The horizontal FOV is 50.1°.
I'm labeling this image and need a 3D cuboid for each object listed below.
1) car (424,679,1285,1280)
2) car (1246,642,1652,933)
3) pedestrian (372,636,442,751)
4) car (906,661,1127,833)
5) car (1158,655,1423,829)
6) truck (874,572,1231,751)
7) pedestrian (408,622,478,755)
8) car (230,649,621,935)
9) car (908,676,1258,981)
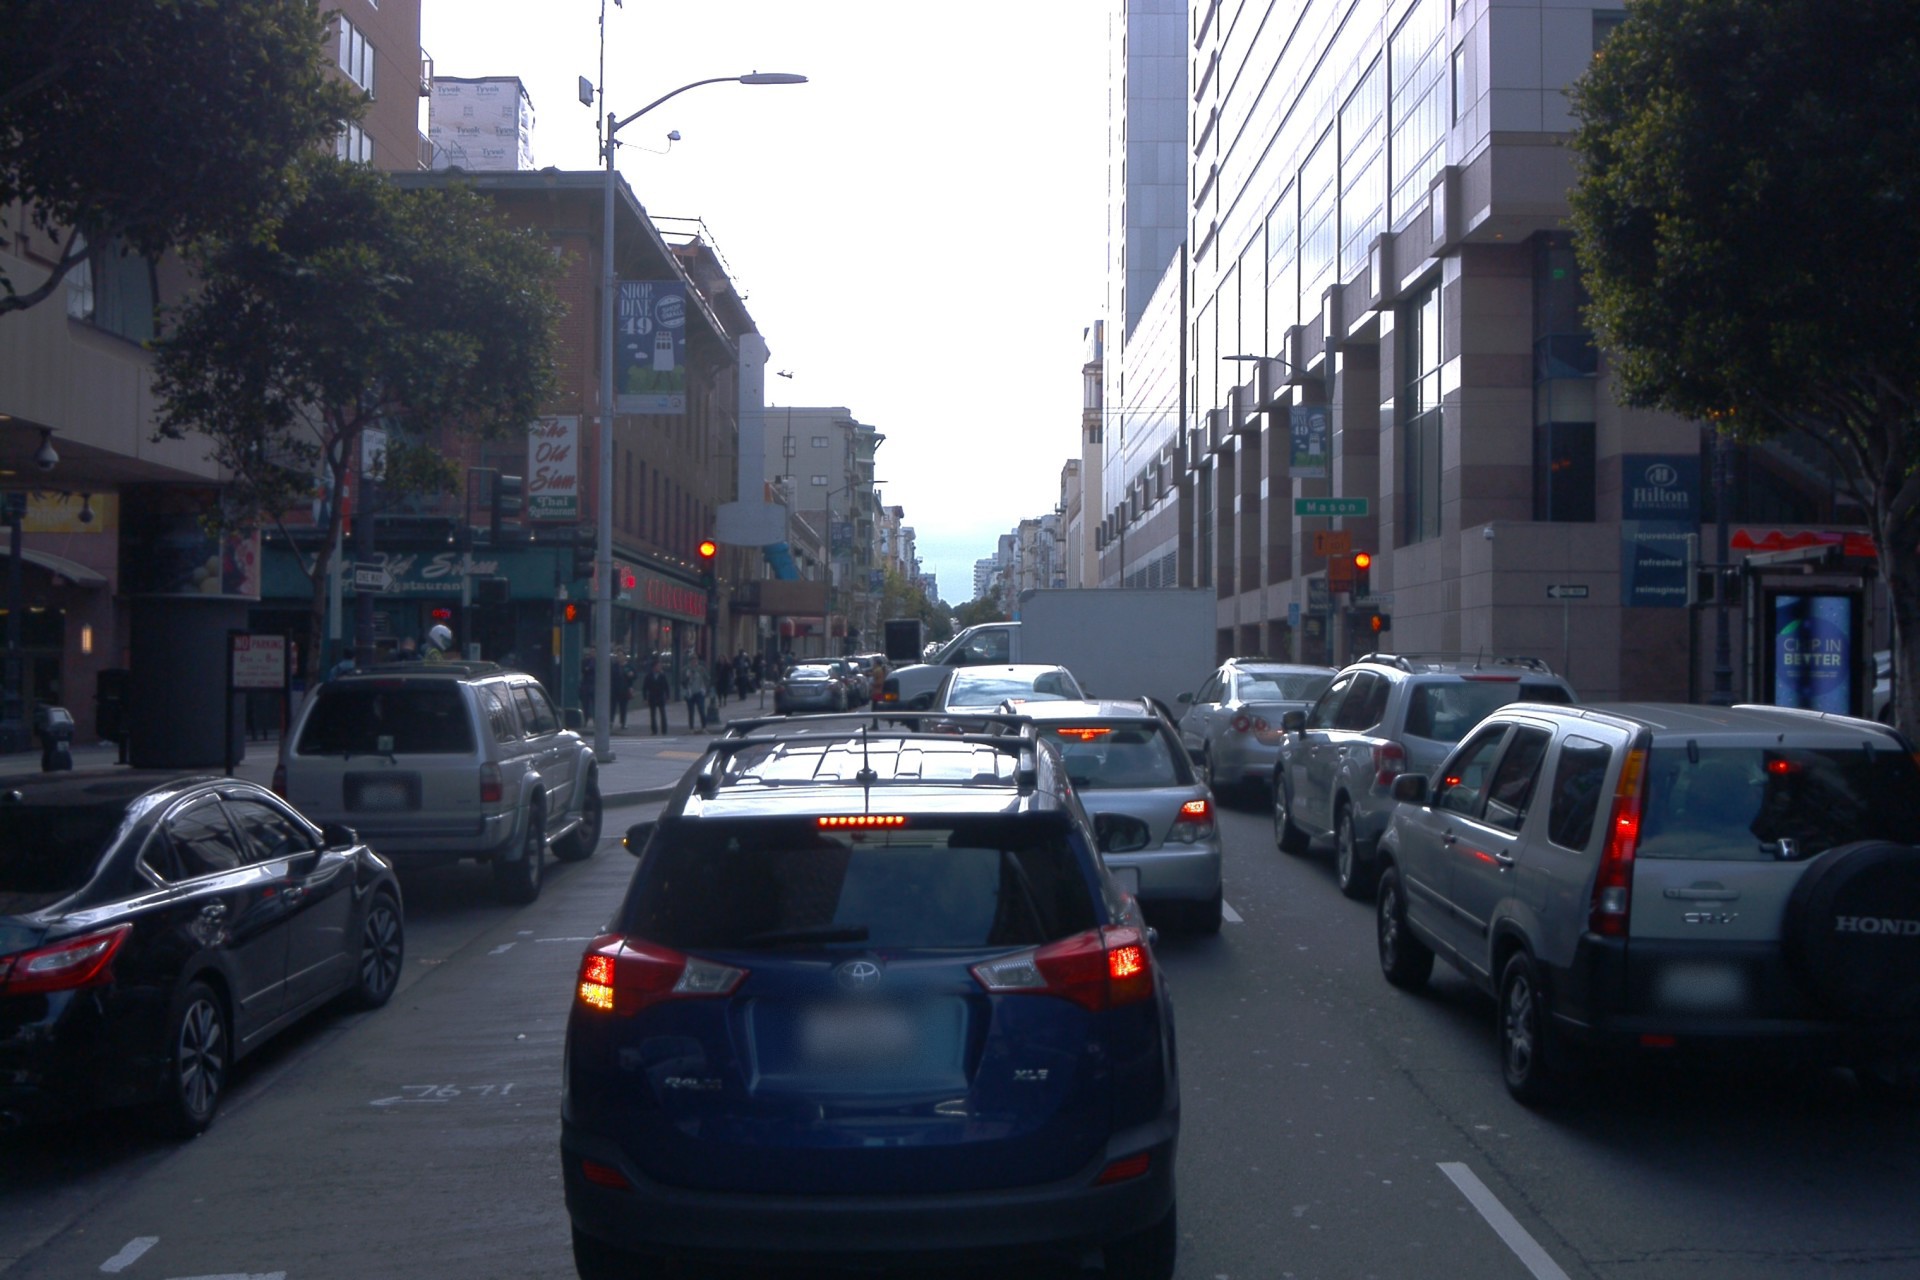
[{"bbox_3d":[-0.287,1.134,7.509,2.184,1.830,4.555,0,1,0],"label":"car"},{"bbox_3d":[3.582,0.986,16.026,2.029,1.870,4.665,0,1,0],"label":"car"},{"bbox_3d":[-8.122,0.777,30.218,0.779,1.650,0.864,0,1,0],"label":"pedestrian"},{"bbox_3d":[0.477,1.024,21.562,2.074,1.500,4.589,0,1,-1],"label":"car"},{"bbox_3d":[3.453,1.014,22.409,2.063,1.590,4.797,0,1,-1],"label":"car"},{"bbox_3d":[1.544,0.342,34.588,5.805,2.890,2.234,0,1,3],"label":"truck"},{"bbox_3d":[-7.395,0.680,29.415,0.708,1.880,0.658,0,1,29],"label":"pedestrian"},{"bbox_3d":[-4.062,1.058,16.487,1.995,1.880,4.690,0,1,-1],"label":"car"},{"bbox_3d":[0.768,1.136,14.315,2.030,1.630,4.708,0,1,1],"label":"car"}]
